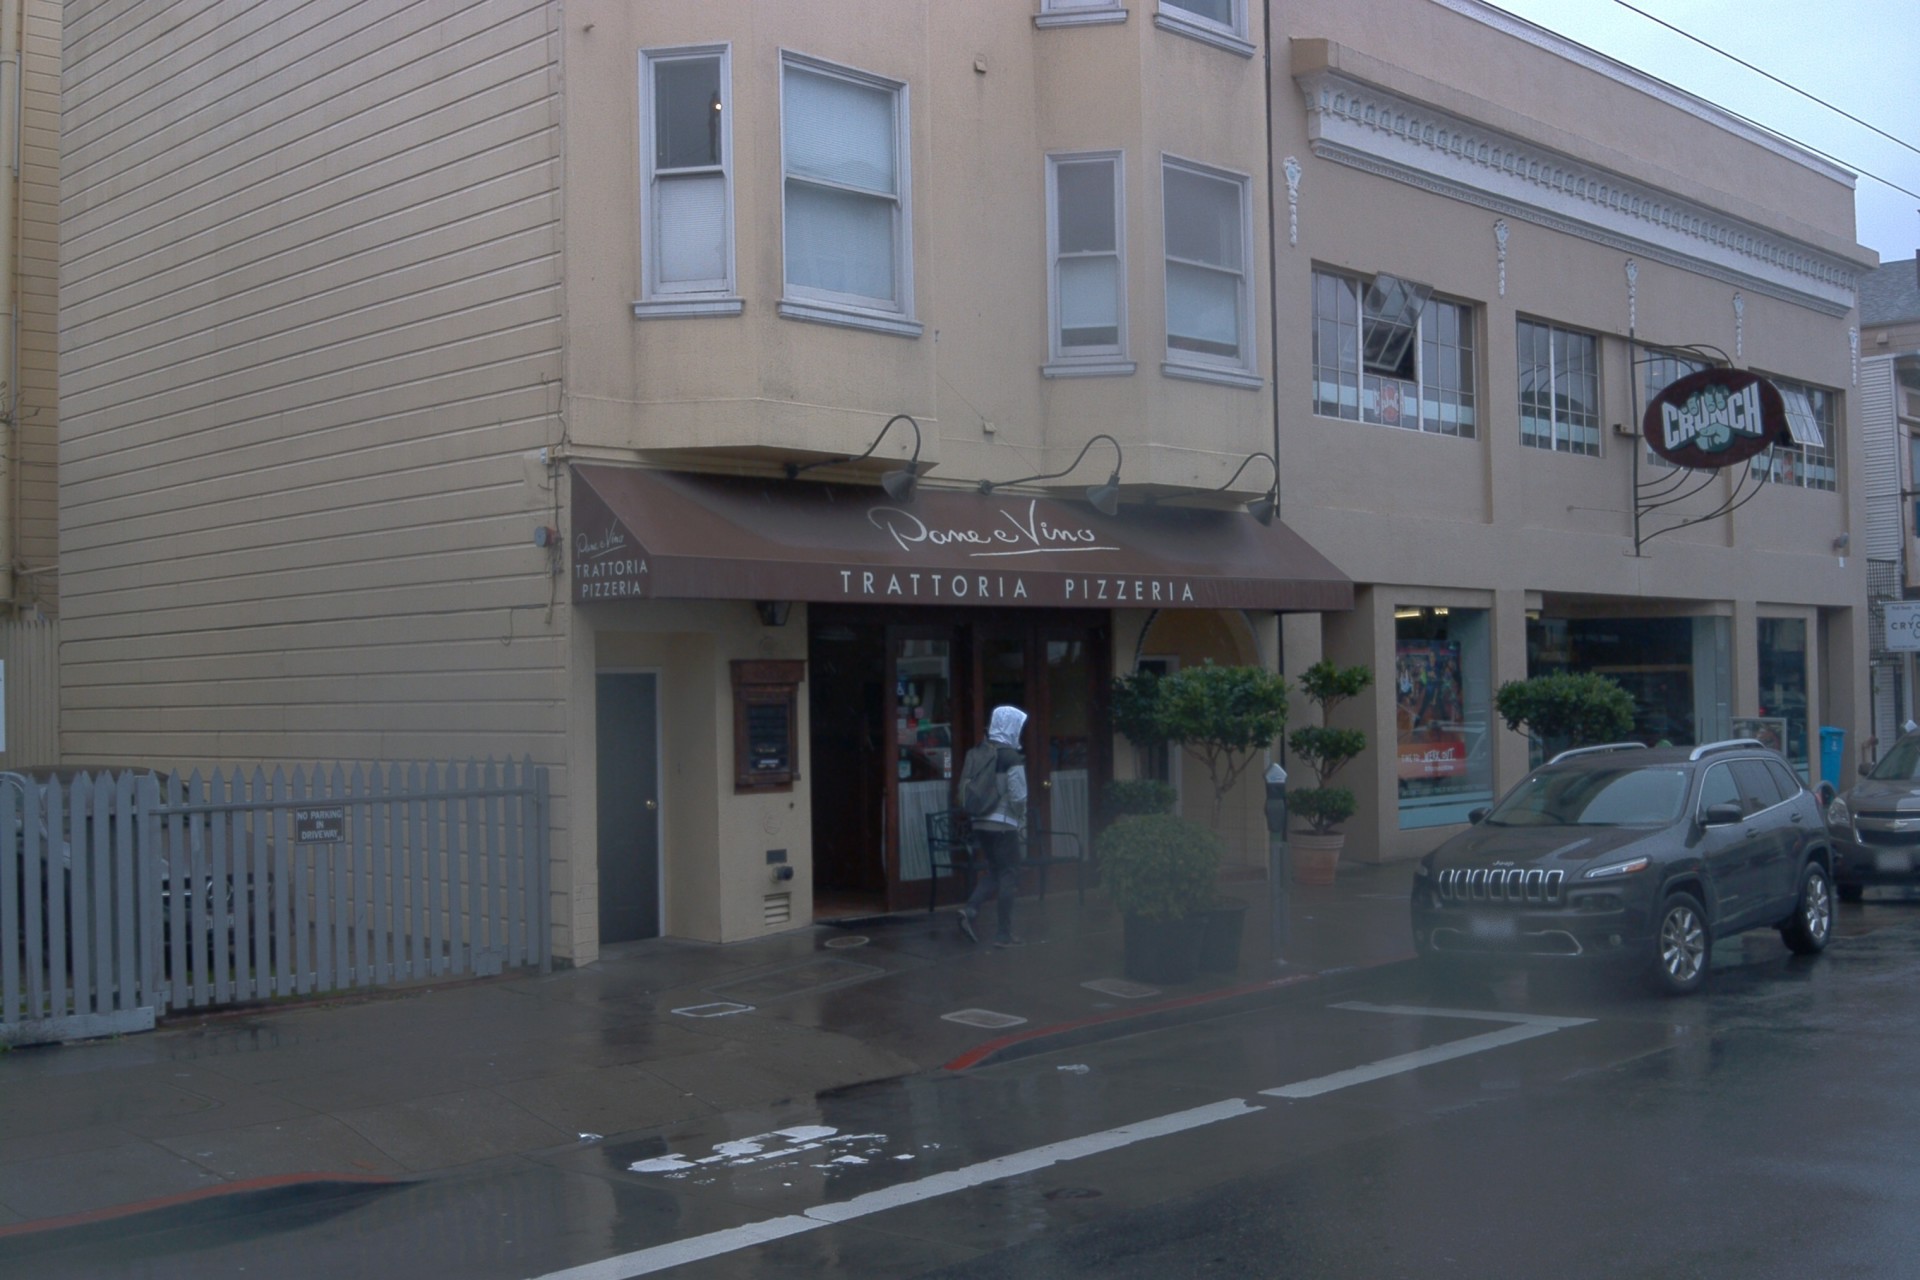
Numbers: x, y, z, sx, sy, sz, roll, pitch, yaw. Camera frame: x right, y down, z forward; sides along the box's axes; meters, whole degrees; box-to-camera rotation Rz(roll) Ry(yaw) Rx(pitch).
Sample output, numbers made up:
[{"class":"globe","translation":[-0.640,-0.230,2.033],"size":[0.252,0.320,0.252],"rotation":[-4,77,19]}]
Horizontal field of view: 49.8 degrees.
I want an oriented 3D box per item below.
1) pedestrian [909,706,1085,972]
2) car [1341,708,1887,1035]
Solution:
[{"class":"pedestrian","translation":[0.274,1.409,15.018],"size":[0.729,1.800,1.056],"rotation":[2,1,45]},{"class":"car","translation":[5.030,1.526,15.416],"size":[2.113,1.830,4.891],"rotation":[2,1,40]}]
